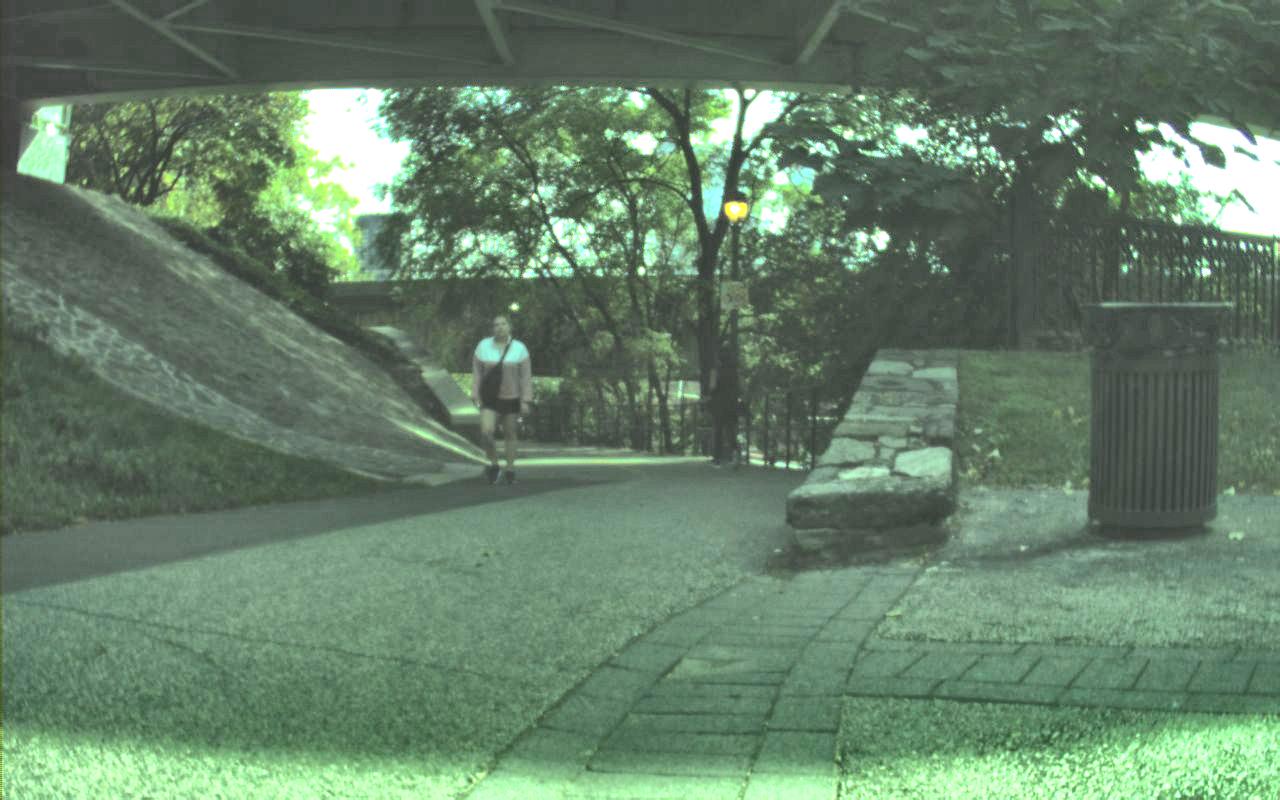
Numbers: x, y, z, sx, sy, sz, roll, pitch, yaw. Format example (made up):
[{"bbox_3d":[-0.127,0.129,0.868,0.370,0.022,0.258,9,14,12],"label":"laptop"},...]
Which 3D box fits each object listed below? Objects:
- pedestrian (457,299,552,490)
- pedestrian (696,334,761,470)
[{"bbox_3d":[-1.271,-0.056,11.660,0.824,1.712,0.849,0,0,-10],"label":"pedestrian"},{"bbox_3d":[1.175,0.016,16.595,0.764,1.730,0.817,0,0,10],"label":"pedestrian"}]
